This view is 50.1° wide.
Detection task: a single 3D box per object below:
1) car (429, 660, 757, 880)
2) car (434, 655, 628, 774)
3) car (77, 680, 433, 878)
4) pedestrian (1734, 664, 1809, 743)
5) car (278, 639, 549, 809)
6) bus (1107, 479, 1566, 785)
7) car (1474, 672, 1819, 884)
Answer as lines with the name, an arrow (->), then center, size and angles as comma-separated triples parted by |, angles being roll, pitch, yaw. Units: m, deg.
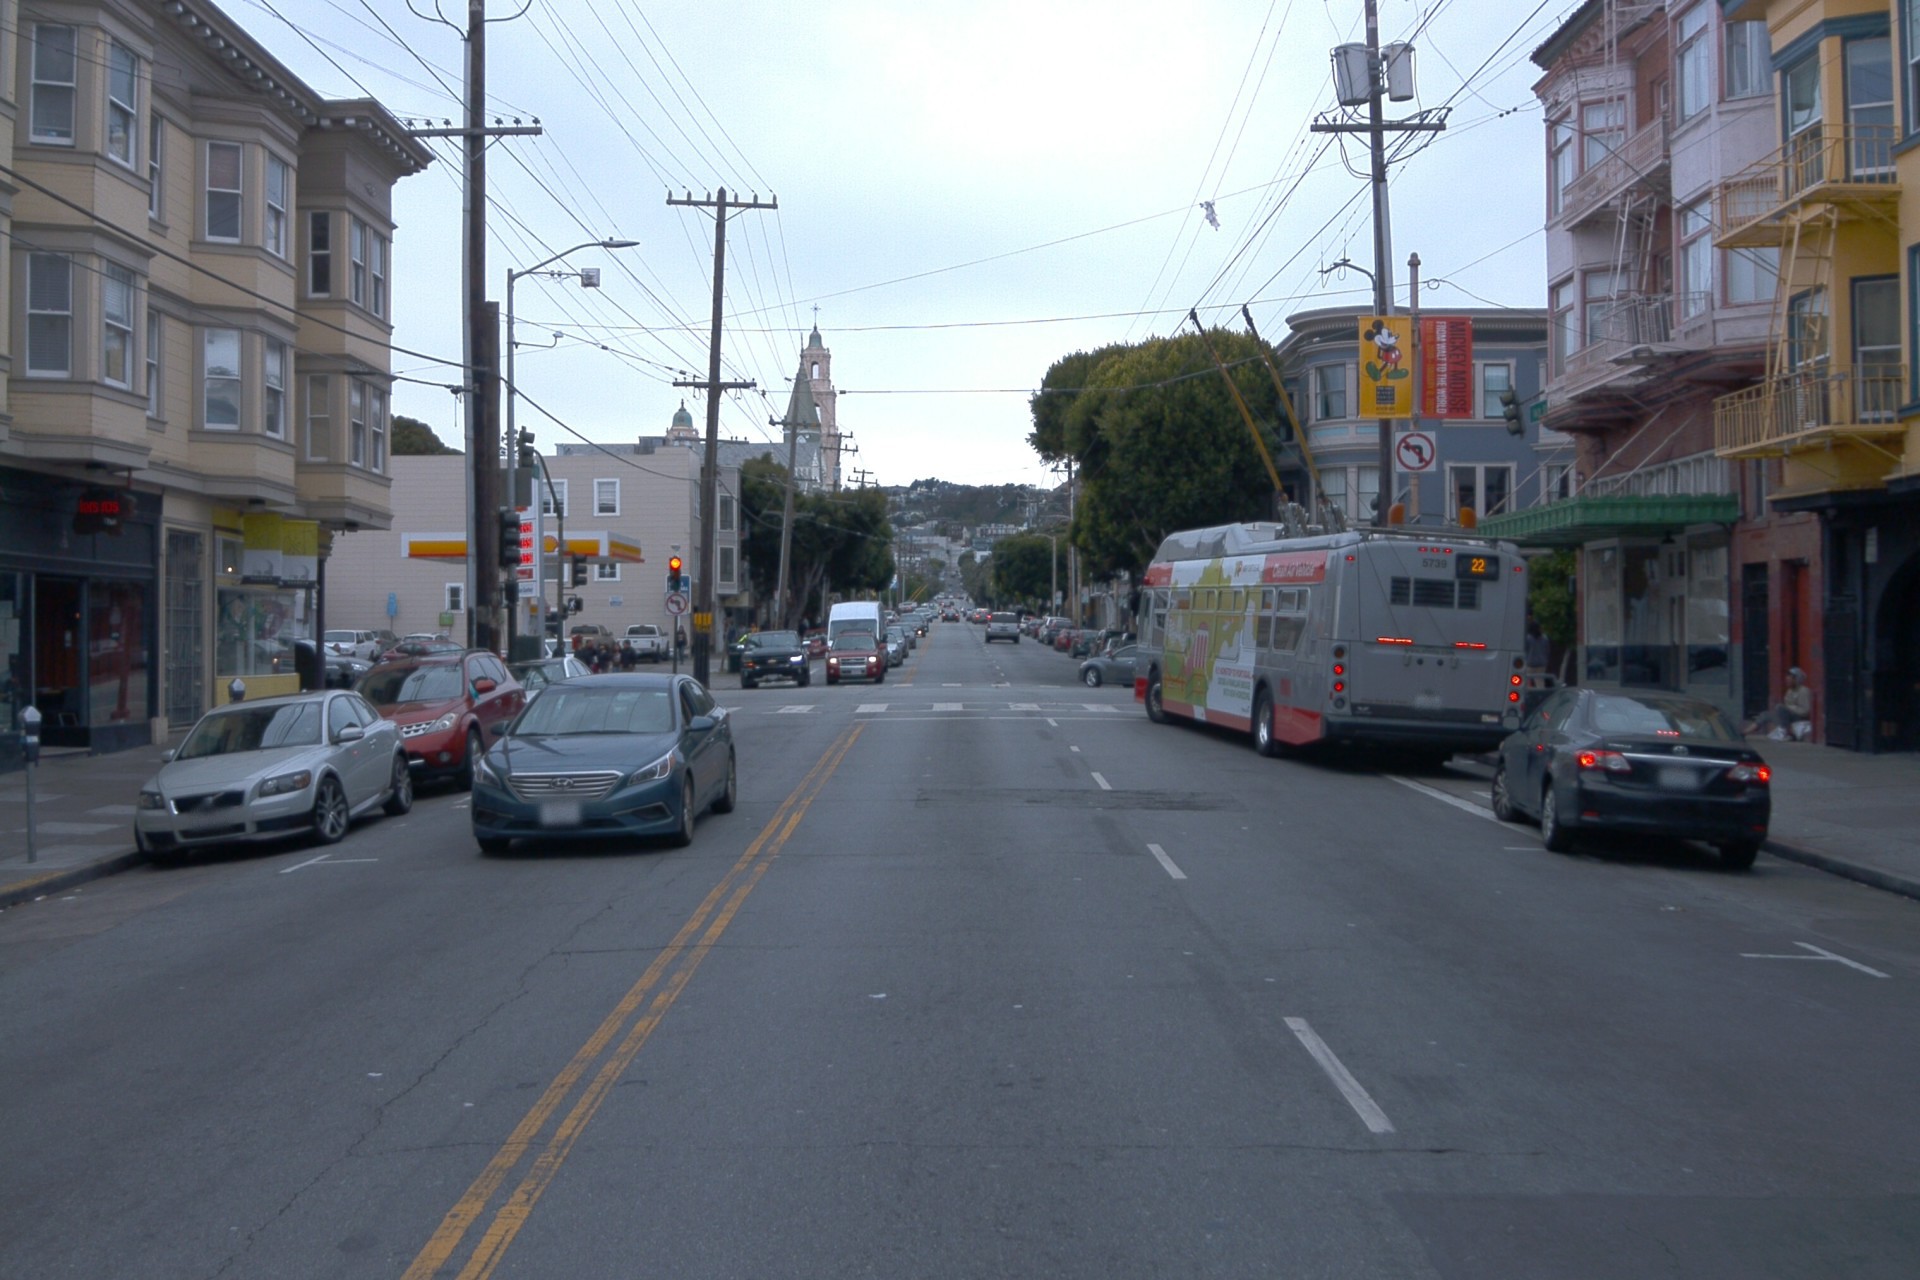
car -> -3.216, 1.079, 19.085 | 2.080, 1.661, 4.782 | 0, 1, 1
car -> -6.558, 1.093, 31.946 | 1.984, 1.590, 4.675 | 0, 1, 1
car -> -6.782, 1.270, 20.321 | 2.070, 1.590, 4.254 | 0, 1, 0
pedestrian -> 11.702, 0.908, 29.681 | 0.741, 1.100, 0.806 | 0, 1, -2
car -> -6.742, 0.964, 25.964 | 2.135, 1.870, 4.721 | 0, 1, 0
bus -> 5.155, -0.209, 32.096 | 3.154, 3.751, 13.518 | 0, 1, -7
car -> 6.124, 1.151, 18.938 | 2.038, 1.565, 4.564 | 0, 1, 6
